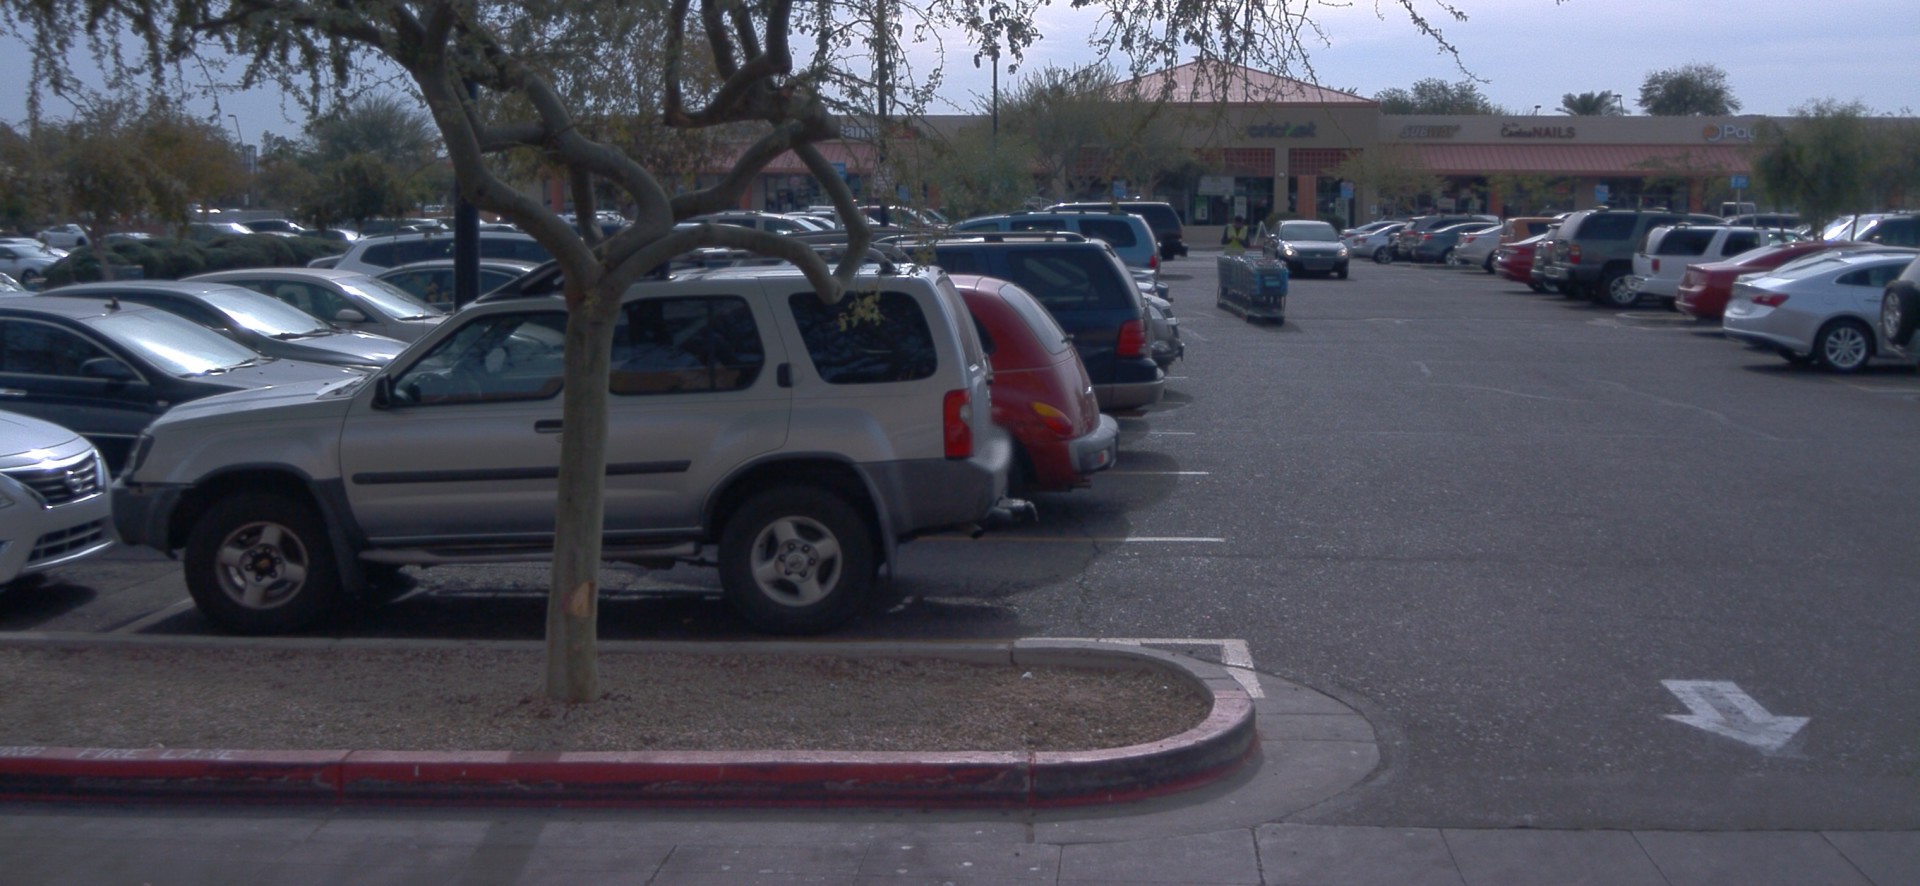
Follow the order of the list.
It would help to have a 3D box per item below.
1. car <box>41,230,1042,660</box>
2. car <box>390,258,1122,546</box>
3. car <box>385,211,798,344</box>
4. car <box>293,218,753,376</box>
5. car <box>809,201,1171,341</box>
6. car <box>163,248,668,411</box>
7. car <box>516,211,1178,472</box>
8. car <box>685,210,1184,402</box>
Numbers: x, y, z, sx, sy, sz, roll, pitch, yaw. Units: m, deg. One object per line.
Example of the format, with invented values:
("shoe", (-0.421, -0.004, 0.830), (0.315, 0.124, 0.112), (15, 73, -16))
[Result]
("car", (-1.982, -0.103, 10.926), (4.754, 1.977, 2.084), (1, 3, 3))
("car", (-1.199, -0.372, 14.059), (4.543, 1.696, 2.400), (1, 4, 4))
("car", (-5.547, -2.569, 31.964), (5.775, 1.896, 2.581), (1, 4, 3))
("car", (-5.378, -1.871, 26.195), (5.218, 1.846, 2.410), (1, 4, 1))
("car", (0.532, -2.631, 31.533), (5.263, 1.986, 2.470), (1, 3, 5))
("car", (-5.903, -1.302, 23.005), (4.936, 1.657, 2.206), (1, 4, 3))
("car", (-0.830, -0.889, 16.997), (5.030, 1.937, 2.333), (1, 3, 1))
("car", (-0.170, -1.563, 22.993), (5.234, 1.946, 2.414), (1, 3, 6))
